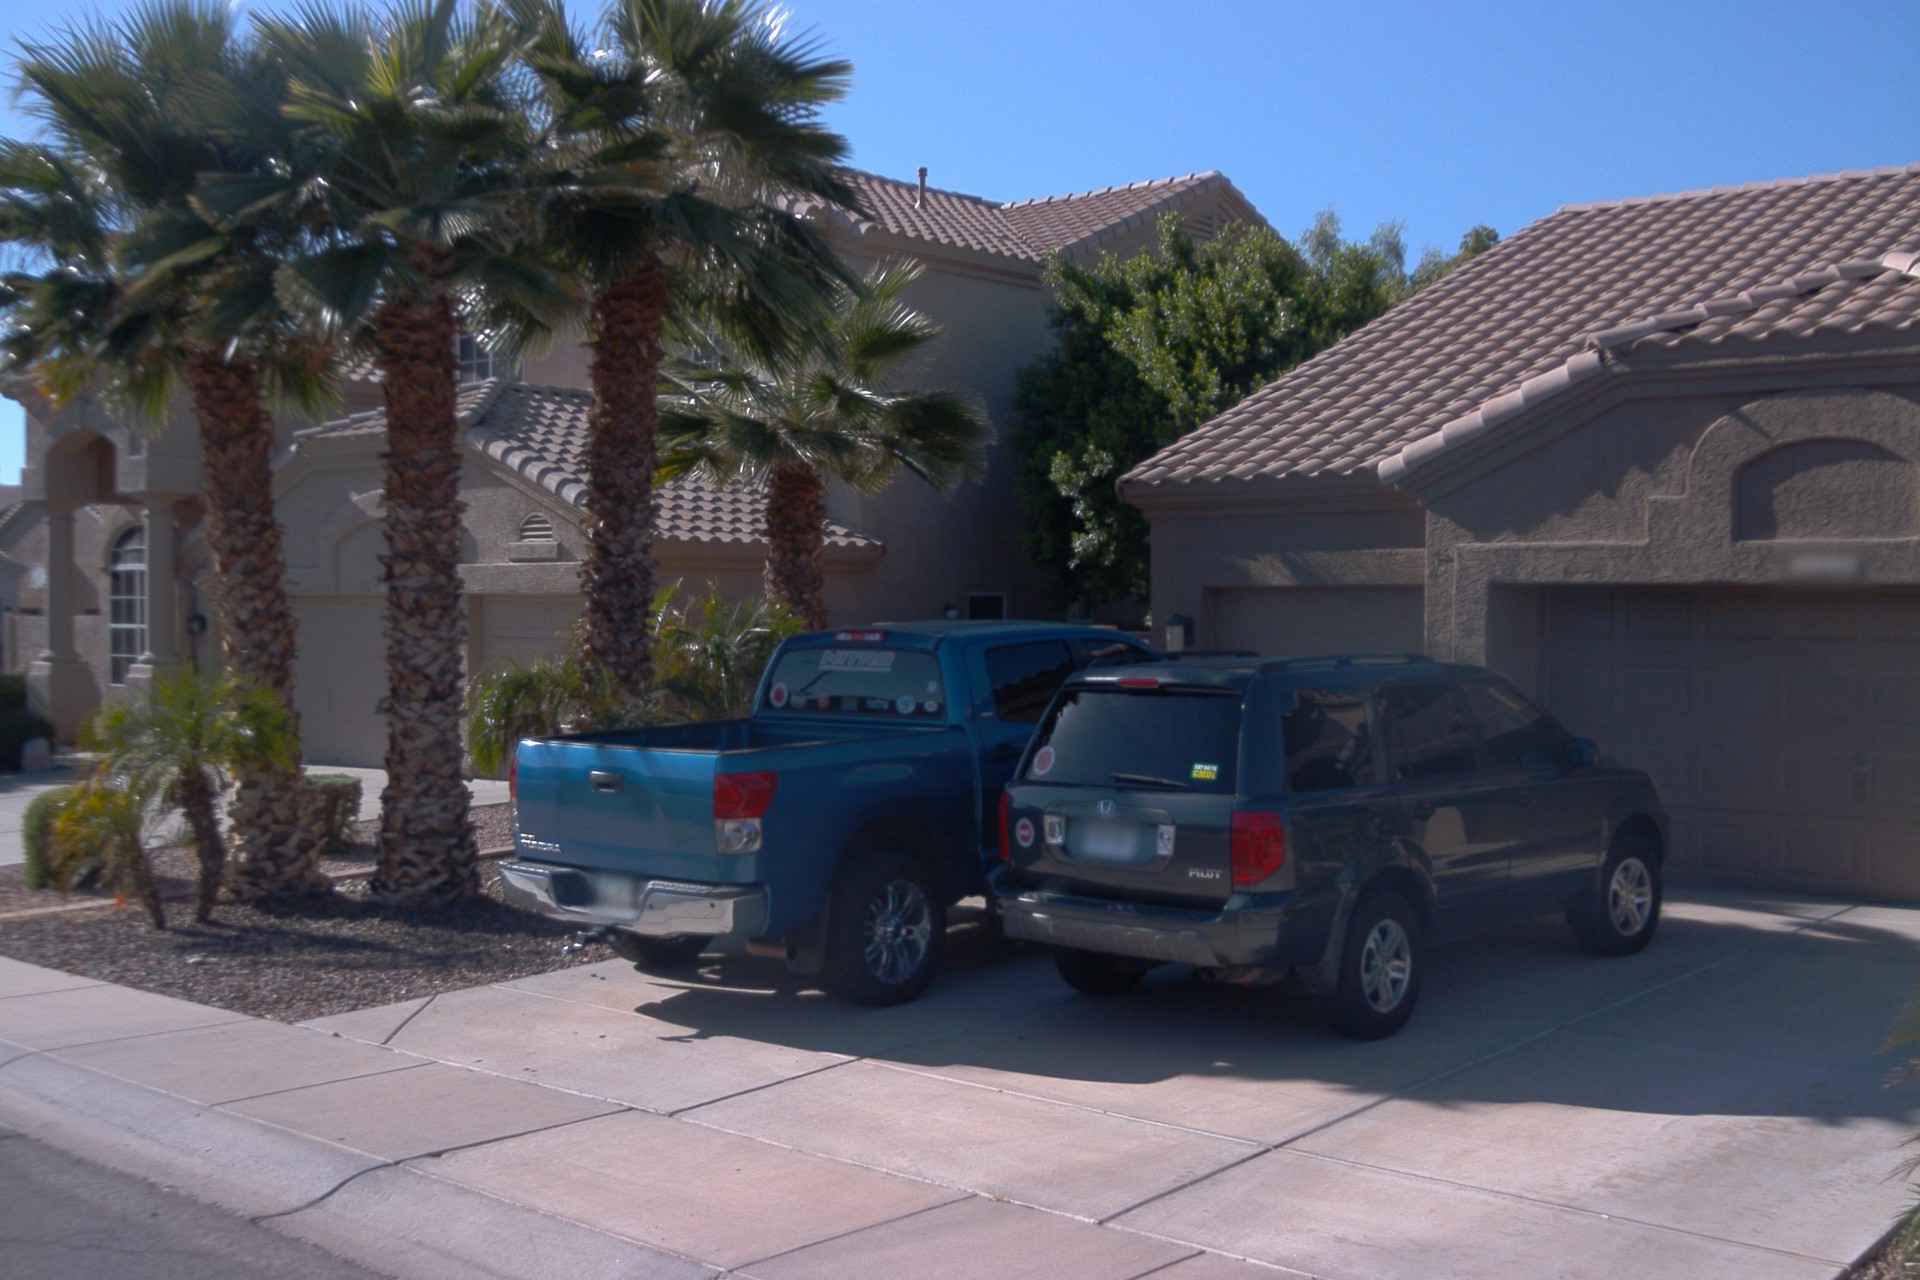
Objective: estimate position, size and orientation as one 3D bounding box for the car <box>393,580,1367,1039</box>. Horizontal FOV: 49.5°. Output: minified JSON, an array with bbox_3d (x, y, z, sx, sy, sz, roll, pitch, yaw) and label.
[{"bbox_3d":[-0.159,0.811,12.745,2.505,2.130,5.980,0,0,41],"label":"car"}]

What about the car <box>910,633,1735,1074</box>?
[{"bbox_3d":[2.150,0.929,11.287,2.147,1.870,4.665,0,0,44],"label":"car"}]
